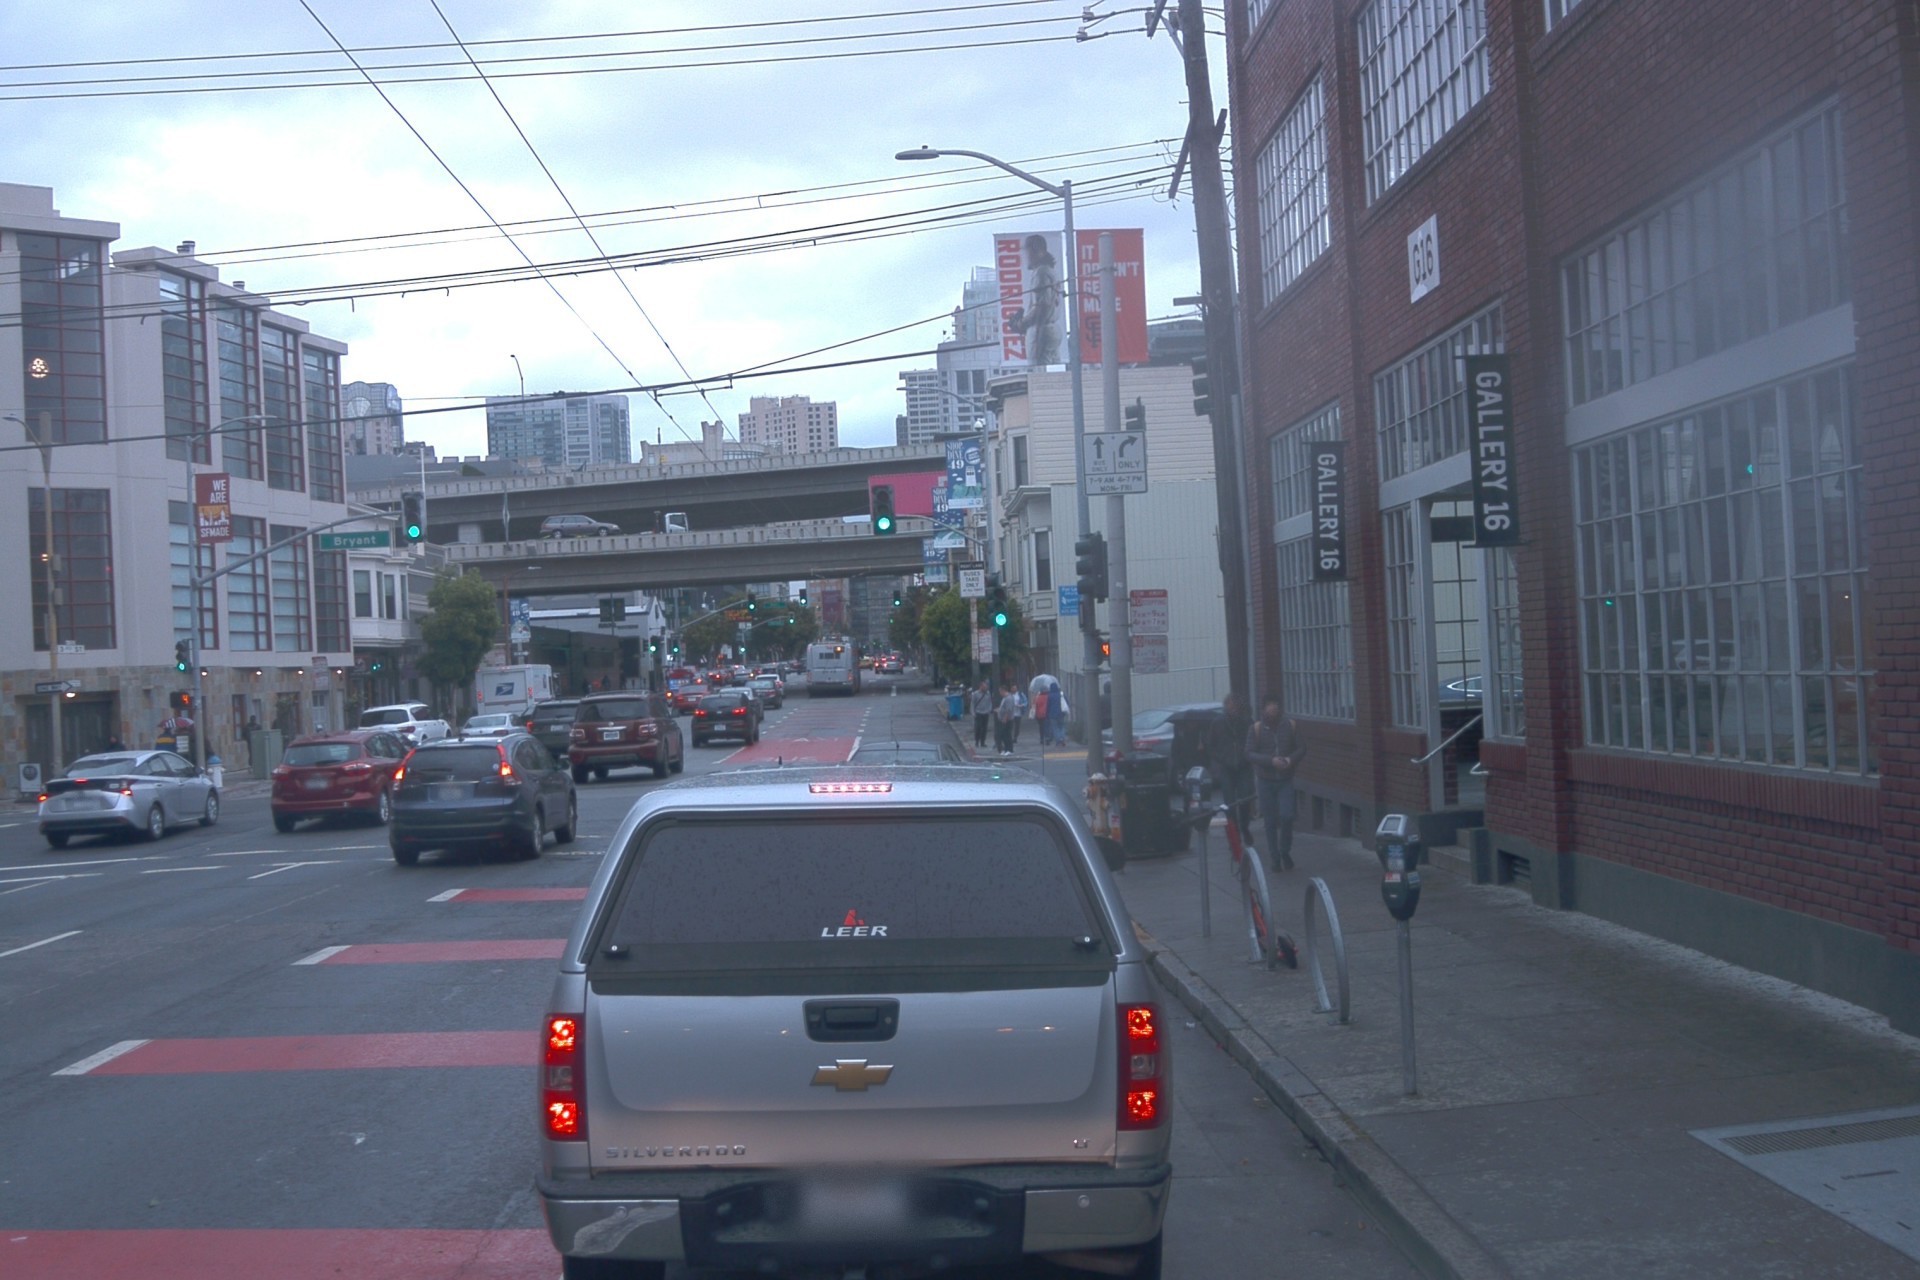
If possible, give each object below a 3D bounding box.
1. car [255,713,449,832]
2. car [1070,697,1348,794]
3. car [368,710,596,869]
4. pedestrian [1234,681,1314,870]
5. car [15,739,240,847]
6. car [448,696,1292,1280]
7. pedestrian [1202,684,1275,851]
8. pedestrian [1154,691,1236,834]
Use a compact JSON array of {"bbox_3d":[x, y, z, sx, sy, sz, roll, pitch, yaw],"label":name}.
[{"bbox_3d":[-10.444,2.228,35.989,2.107,1.830,4.538,0,-1,-1],"label":"car"},{"bbox_3d":[4.299,1.766,35.680,4.415,1.500,2.070,0,-1,-32],"label":"car"},{"bbox_3d":[-6.308,1.923,27.920,2.073,1.860,4.587,0,-1,-1],"label":"car"},{"bbox_3d":[3.125,1.320,20.591,0.763,1.820,0.915,0,-1,10],"label":"pedestrian"},{"bbox_3d":[-13.979,2.533,35.133,2.071,1.540,4.552,0,-1,-2],"label":"car"},{"bbox_3d":[-0.356,1.308,8.717,2.411,2.070,5.546,0,-1,-2],"label":"car"},{"bbox_3d":[3.184,1.440,23.762,0.749,1.870,0.954,0,-1,3],"label":"pedestrian"},{"bbox_3d":[3.153,1.629,27.903,1.015,1.870,1.039,0,-1,3],"label":"pedestrian"}]
